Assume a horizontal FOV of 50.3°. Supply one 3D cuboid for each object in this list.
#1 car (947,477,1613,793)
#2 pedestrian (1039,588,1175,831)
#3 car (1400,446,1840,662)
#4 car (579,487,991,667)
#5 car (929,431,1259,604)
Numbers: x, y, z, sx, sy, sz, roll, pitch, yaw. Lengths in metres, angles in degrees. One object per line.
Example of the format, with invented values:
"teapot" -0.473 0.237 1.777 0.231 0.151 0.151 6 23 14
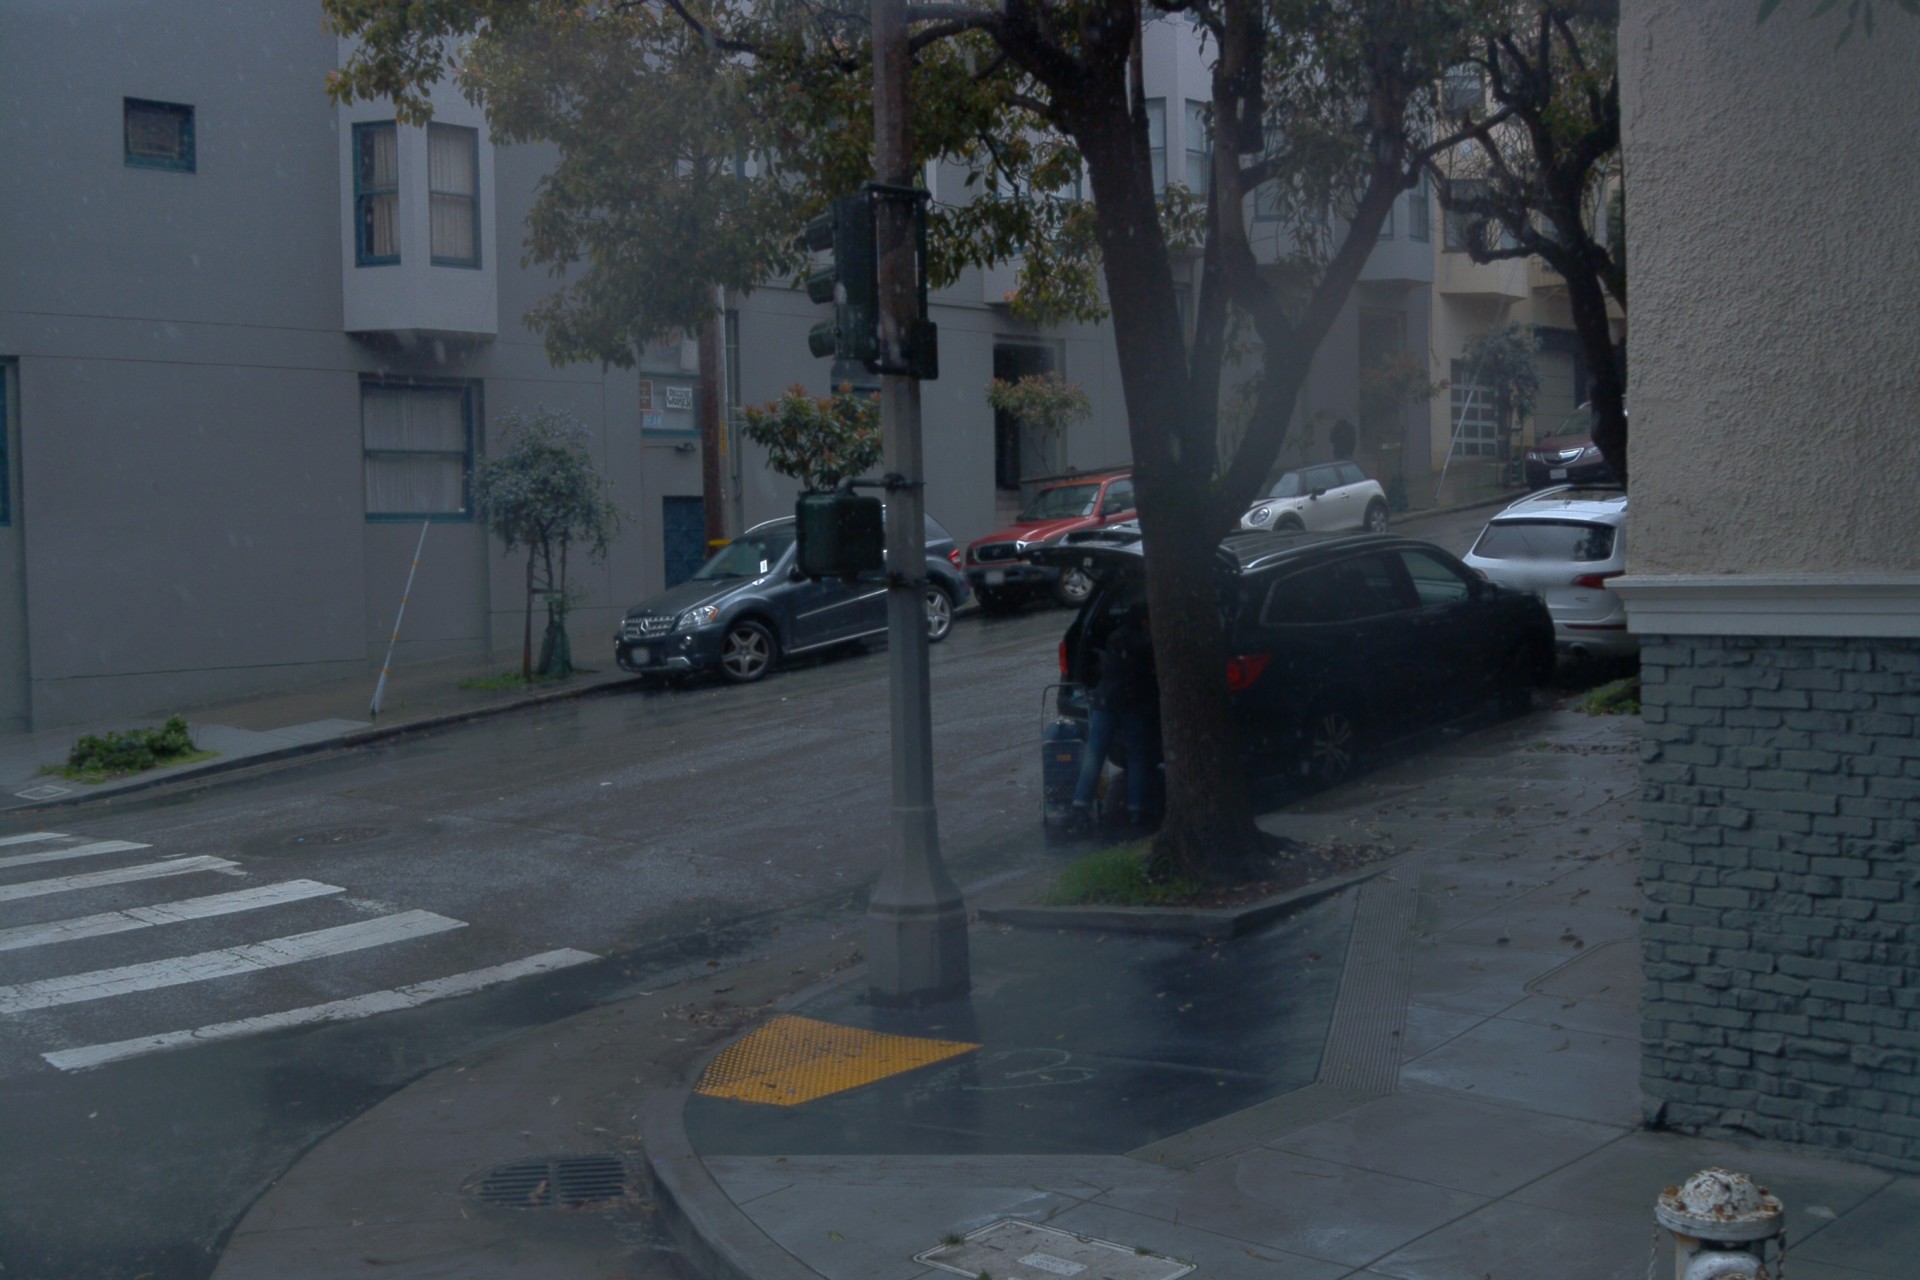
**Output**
"car" 2.723 -0.026 16.096 2.384 2.040 5.680 0 0 43
"pedestrian" 1.035 0.467 14.253 0.793 1.634 0.885 0 0 15
"car" 6.523 -0.726 19.878 2.355 1.840 4.675 0 0 42
"car" -2.050 -0.685 24.963 2.225 1.980 4.671 0 0 45
"car" 1.985 -1.648 29.236 4.537 2.180 2.259 0 0 -45
